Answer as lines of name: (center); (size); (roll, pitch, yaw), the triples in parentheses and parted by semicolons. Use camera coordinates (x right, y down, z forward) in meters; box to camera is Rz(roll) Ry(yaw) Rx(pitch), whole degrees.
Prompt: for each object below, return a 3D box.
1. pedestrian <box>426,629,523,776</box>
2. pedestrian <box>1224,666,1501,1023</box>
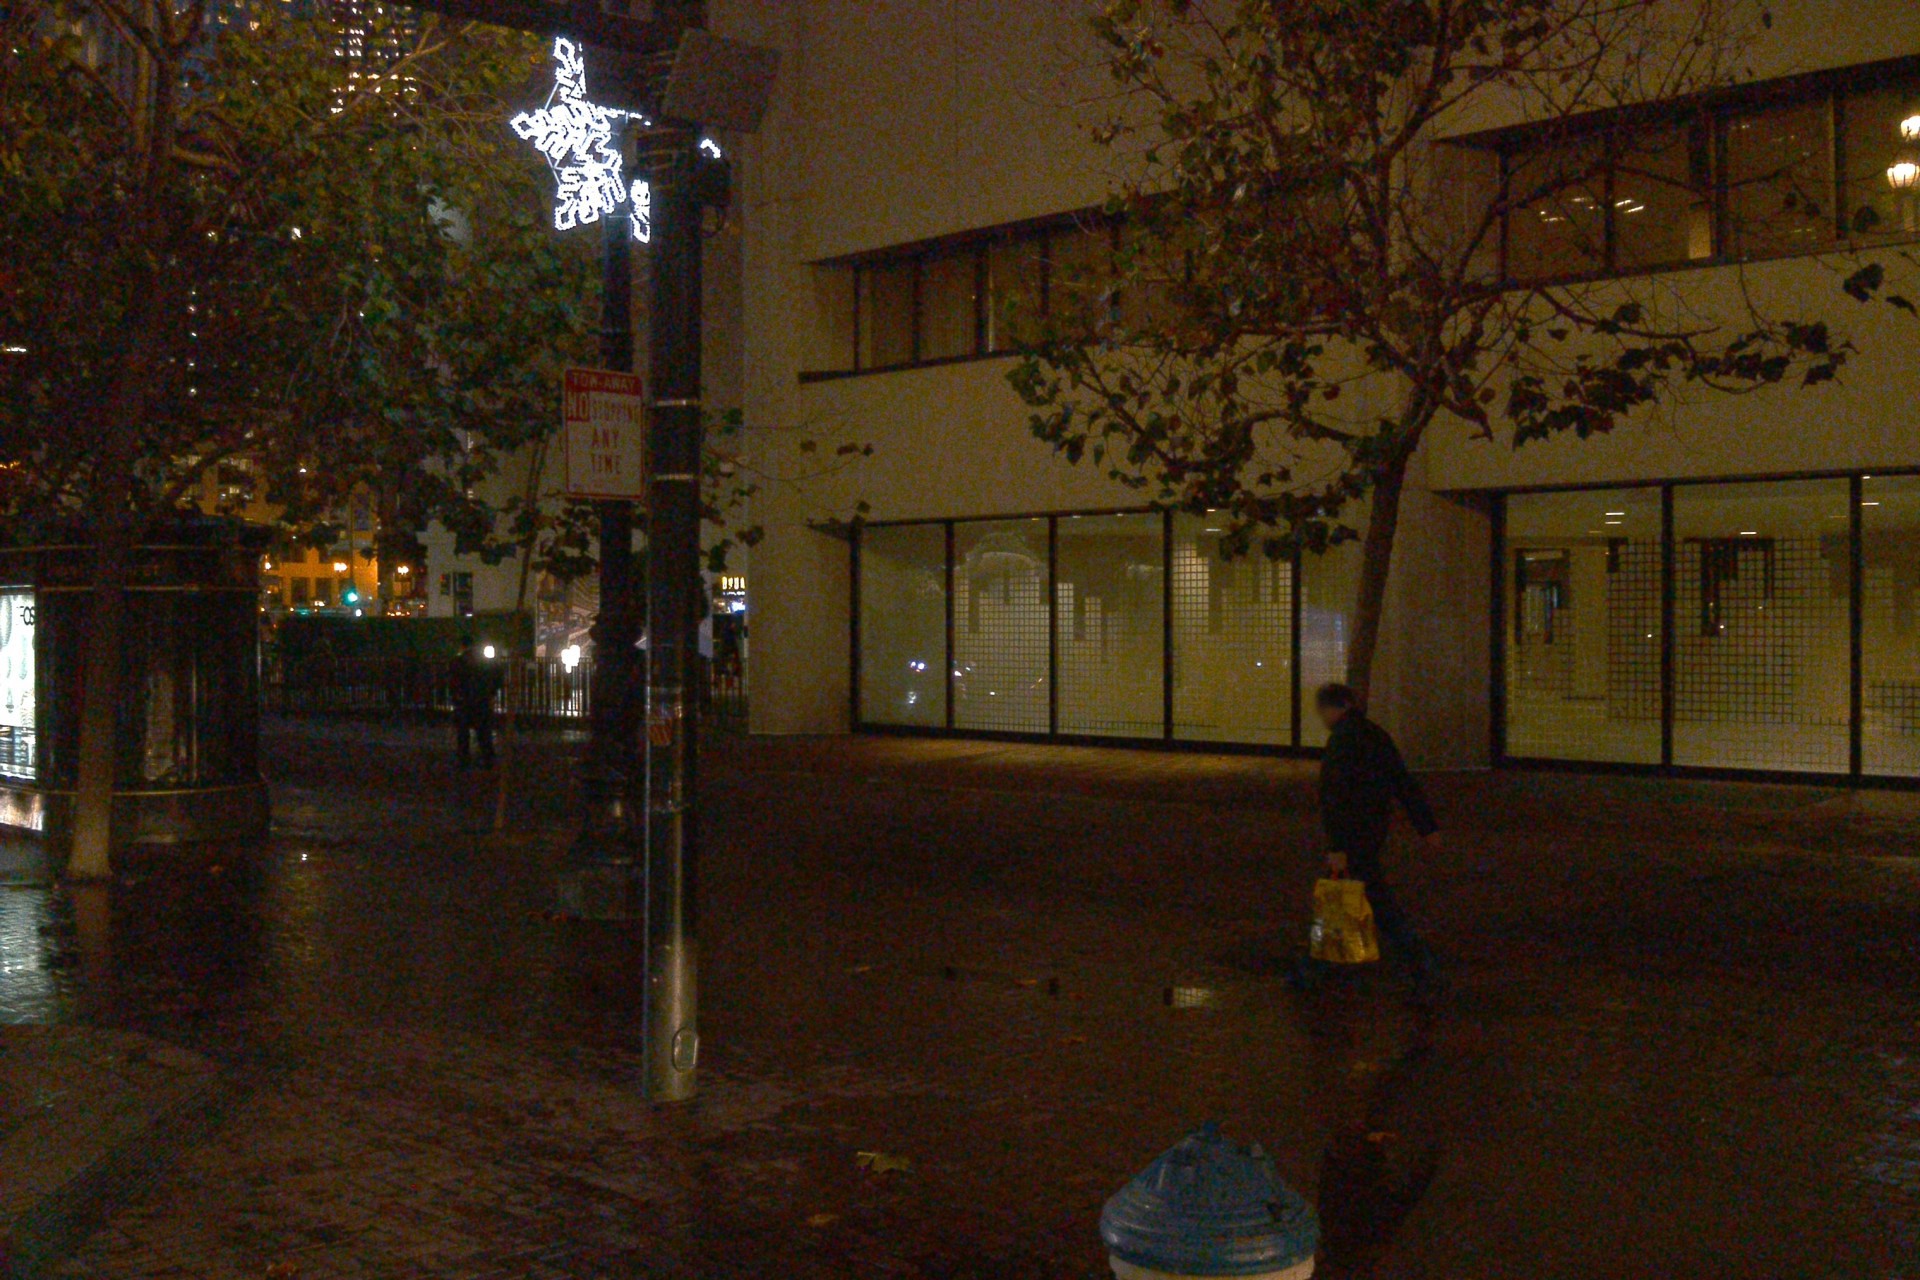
pedestrian: (-6.038, 0.757, 25.462); (0.860, 1.780, 1.103); (1, 0, -31)
pedestrian: (2.110, 1.011, 10.771); (0.941, 1.740, 1.066); (1, 0, -43)
